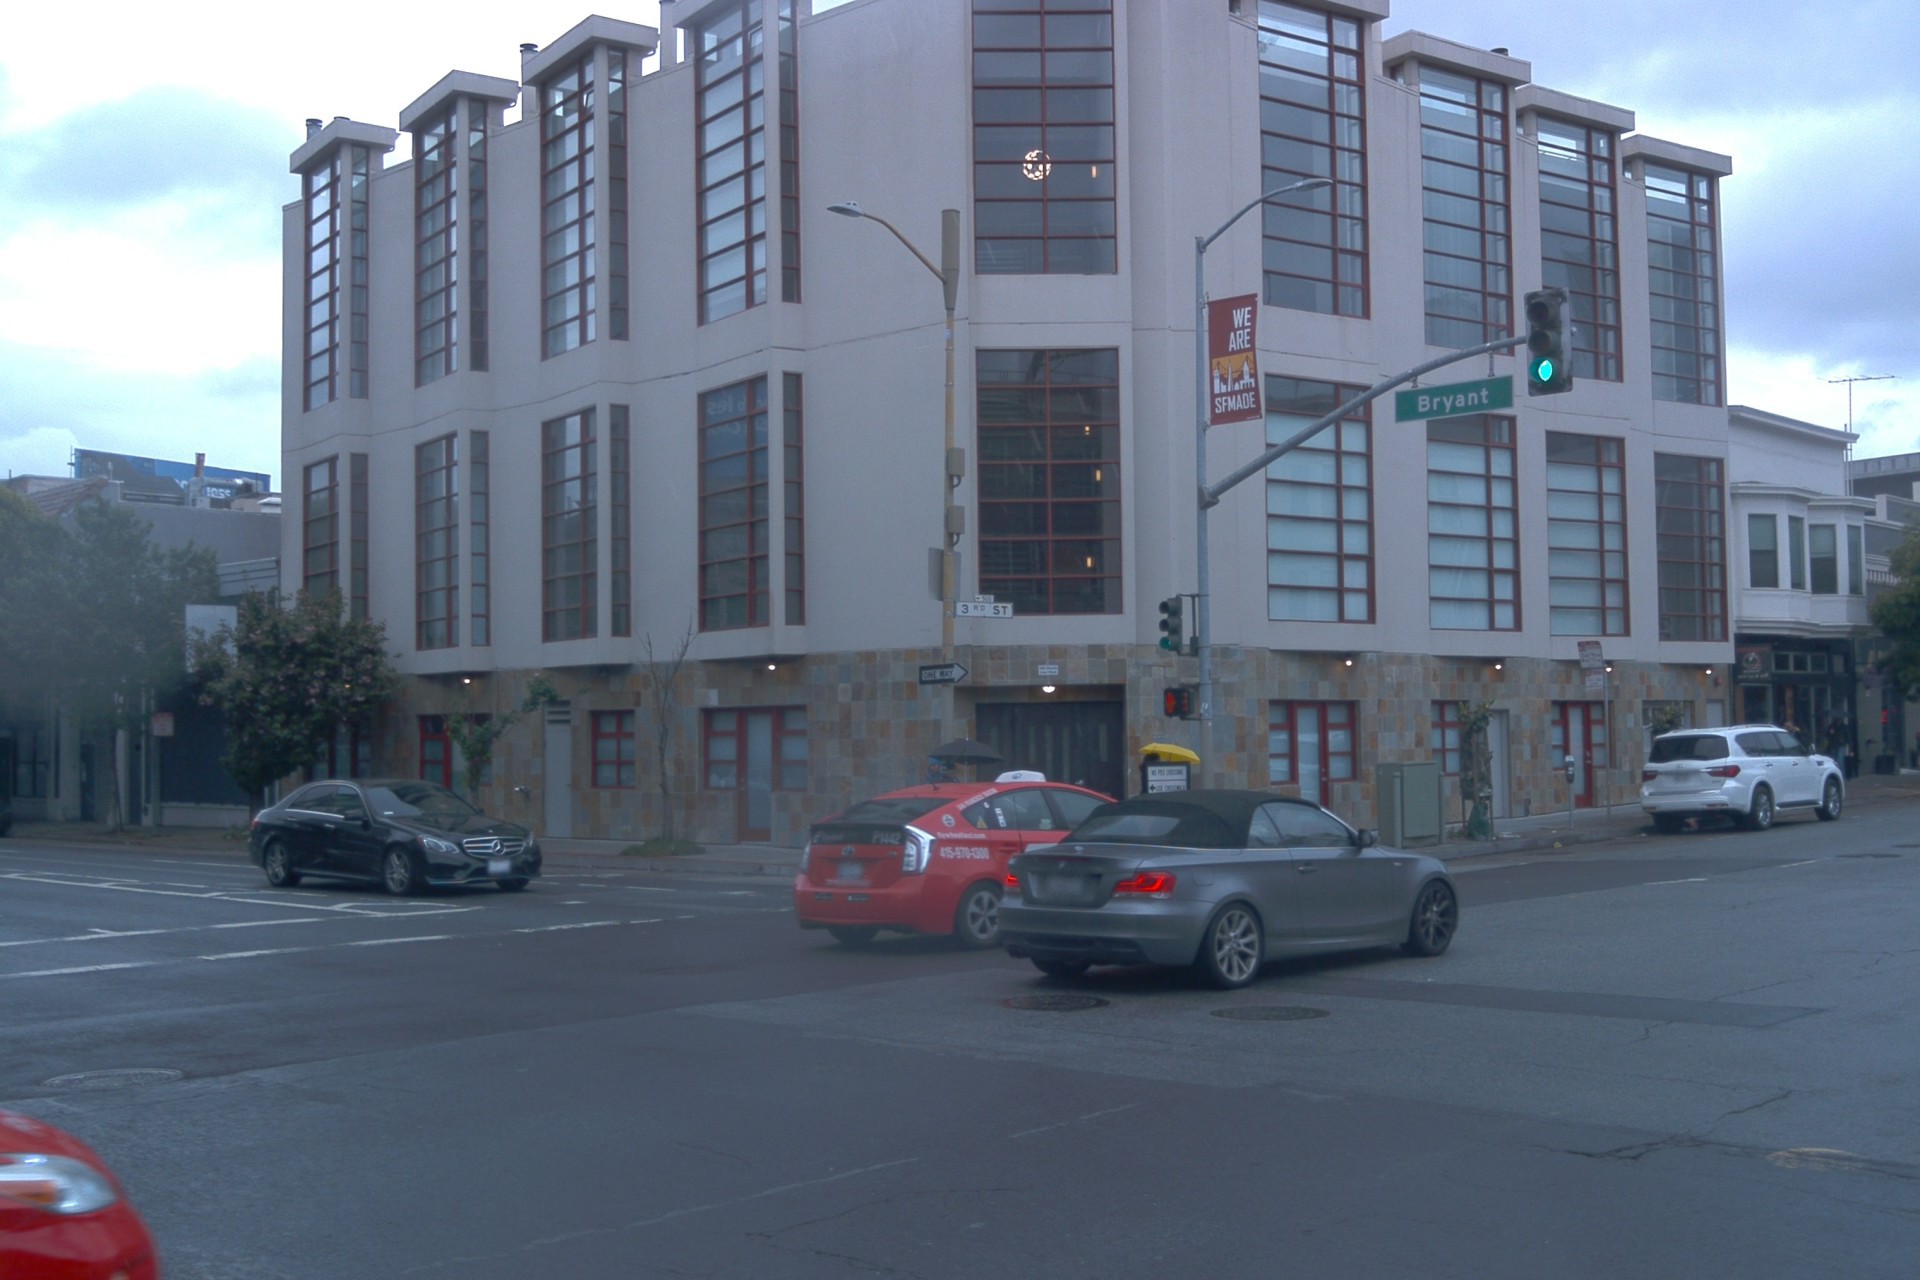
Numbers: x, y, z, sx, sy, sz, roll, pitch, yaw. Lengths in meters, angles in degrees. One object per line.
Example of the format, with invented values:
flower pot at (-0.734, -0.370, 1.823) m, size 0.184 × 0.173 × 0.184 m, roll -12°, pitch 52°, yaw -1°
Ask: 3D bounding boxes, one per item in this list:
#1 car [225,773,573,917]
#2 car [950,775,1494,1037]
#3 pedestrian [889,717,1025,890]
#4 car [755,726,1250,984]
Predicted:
car at (-7.440, 2.608, 27.327) m, size 4.852 × 1.410 × 2.145 m, roll 0°, pitch 0°, yaw 43°
car at (2.160, 1.922, 16.159) m, size 1.937 × 1.460 × 4.452 m, roll 0°, pitch 0°, yaw 43°
pedestrian at (-0.029, 2.101, 27.191) m, size 1.228 × 2.110 × 1.341 m, roll 0°, pitch 0°, yaw 35°
car at (0.513, 1.858, 19.399) m, size 2.056 × 1.920 × 4.590 m, roll 0°, pitch 0°, yaw 43°
